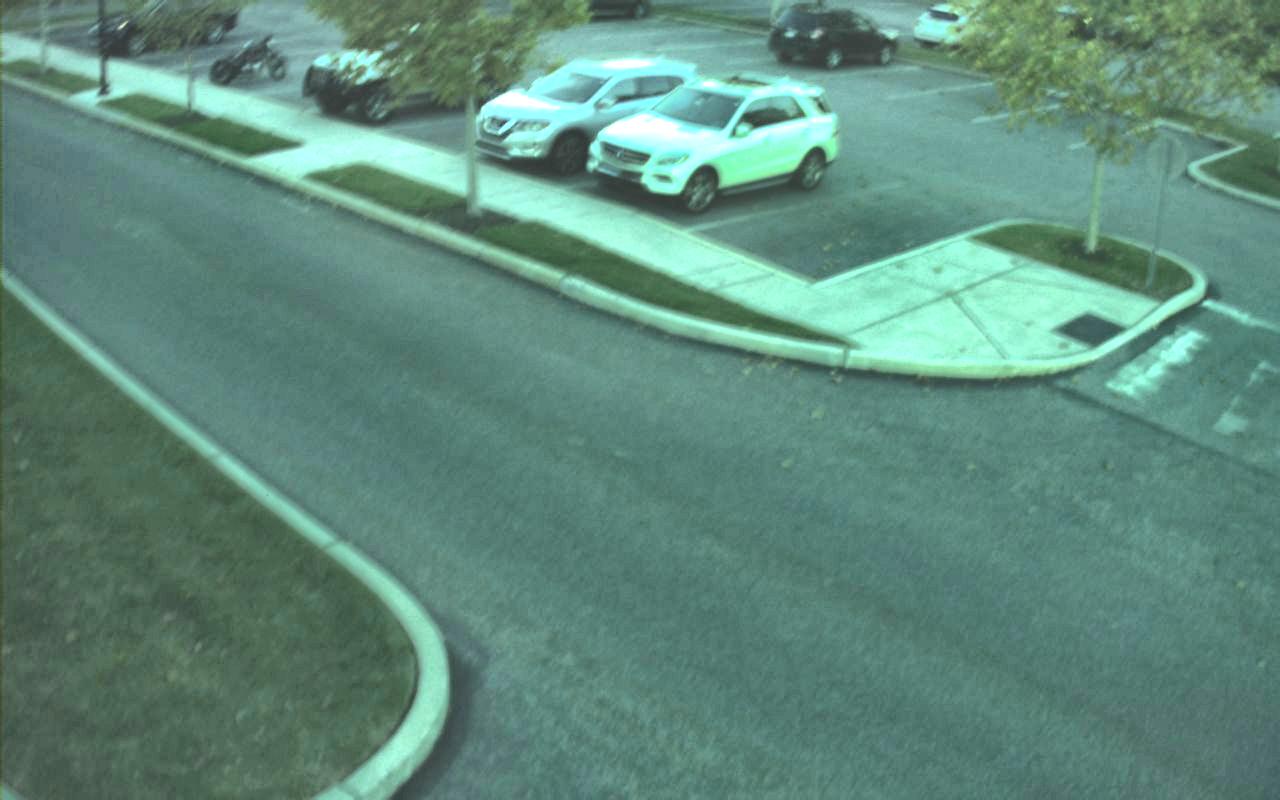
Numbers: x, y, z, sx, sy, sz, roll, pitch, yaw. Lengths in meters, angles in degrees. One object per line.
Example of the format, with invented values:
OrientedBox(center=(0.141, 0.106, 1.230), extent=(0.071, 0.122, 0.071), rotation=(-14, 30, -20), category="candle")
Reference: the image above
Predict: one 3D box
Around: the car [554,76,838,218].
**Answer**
OrientedBox(center=(1.039, -4.173, 19.958), extent=(2.038, 1.862, 4.759), rotation=(12, 21, 40), category="car")

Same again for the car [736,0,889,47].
OrientedBox(center=(4.990, -10.887, 34.624), extent=(2.007, 1.687, 4.698), rotation=(13, 21, 42), category="car")

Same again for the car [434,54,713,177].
OrientedBox(center=(-1.051, -5.009, 21.422), extent=(2.028, 1.798, 4.732), rotation=(13, 21, 41), category="car")
